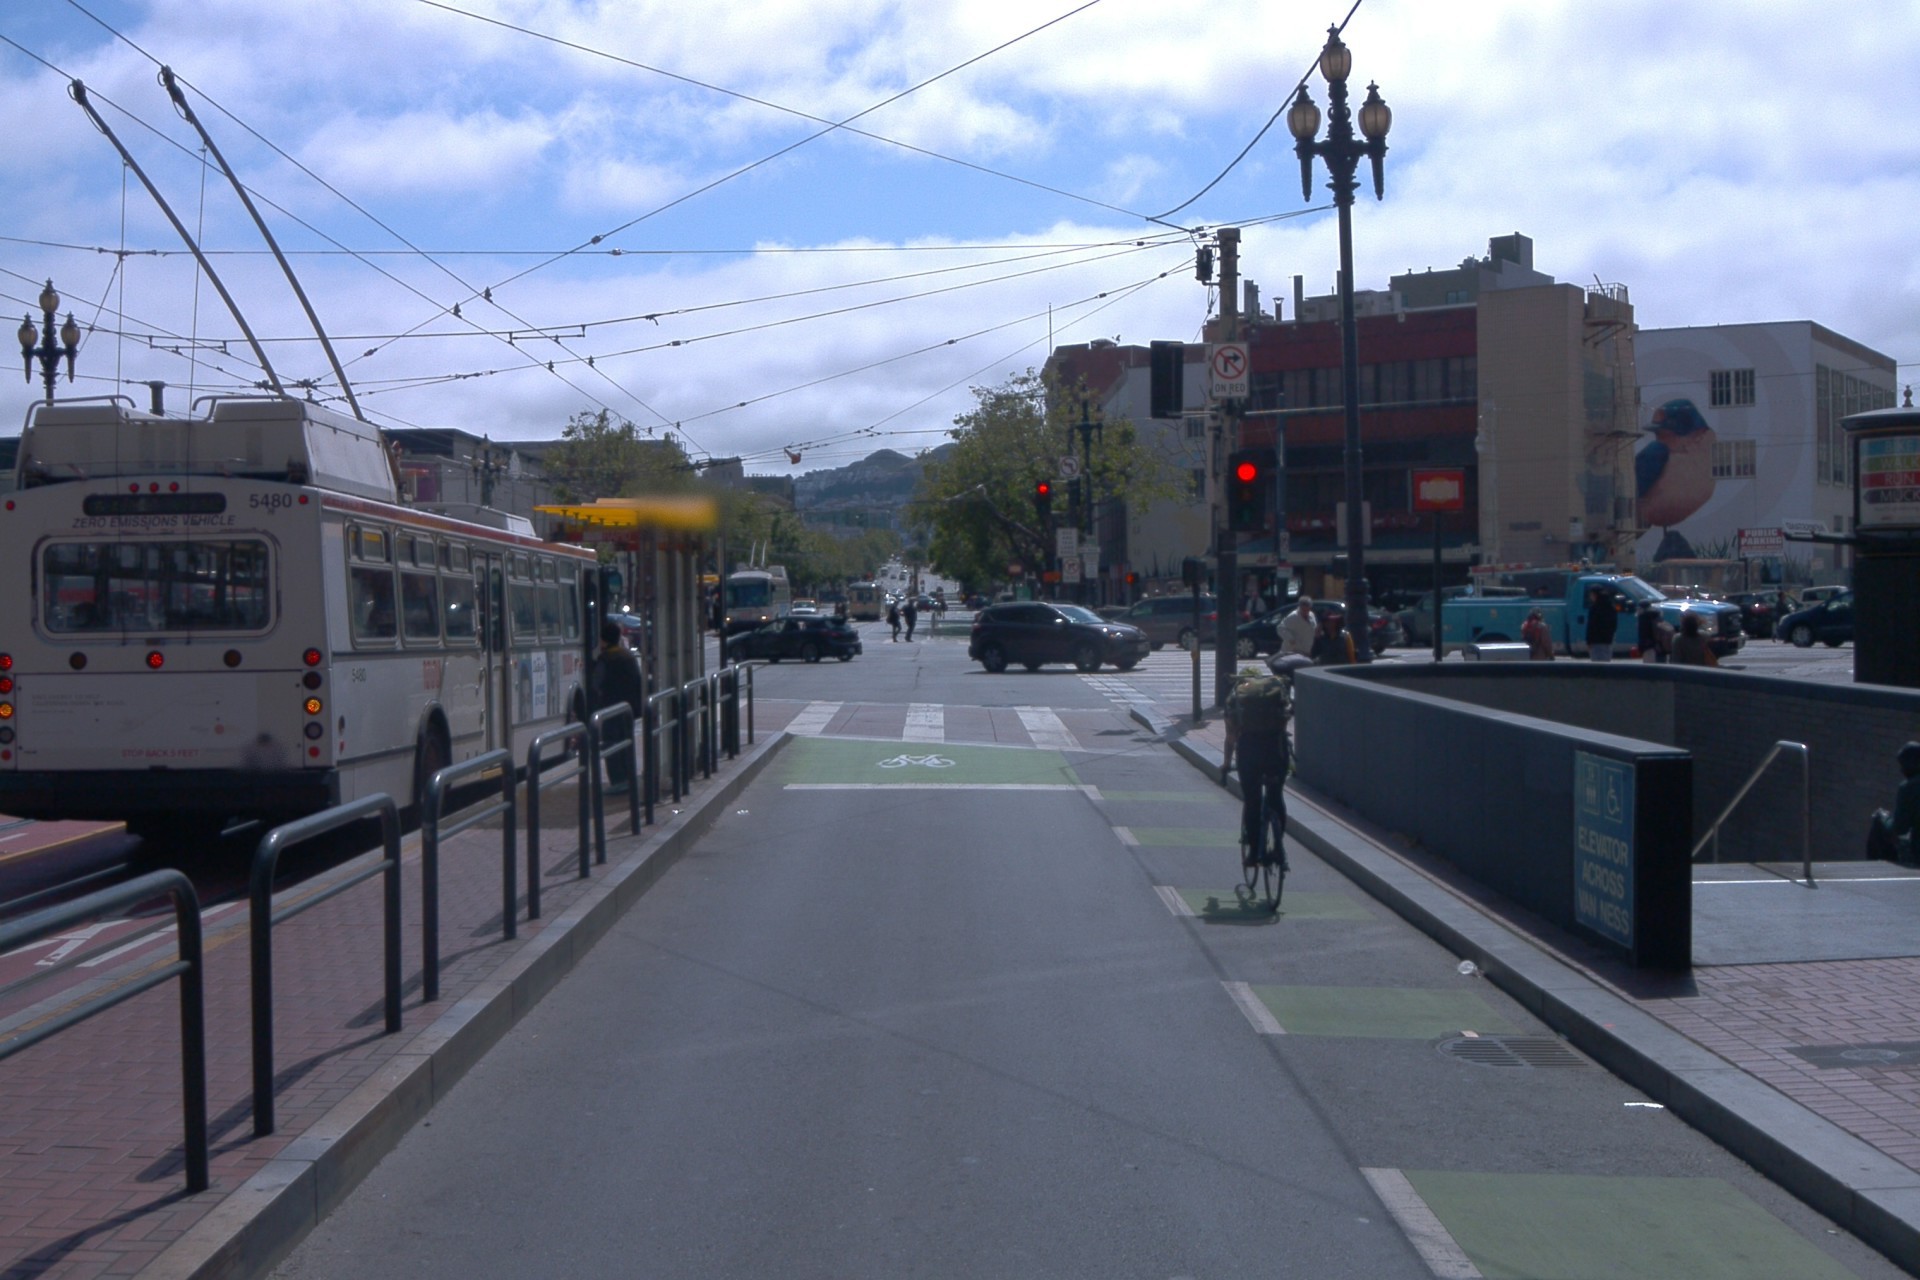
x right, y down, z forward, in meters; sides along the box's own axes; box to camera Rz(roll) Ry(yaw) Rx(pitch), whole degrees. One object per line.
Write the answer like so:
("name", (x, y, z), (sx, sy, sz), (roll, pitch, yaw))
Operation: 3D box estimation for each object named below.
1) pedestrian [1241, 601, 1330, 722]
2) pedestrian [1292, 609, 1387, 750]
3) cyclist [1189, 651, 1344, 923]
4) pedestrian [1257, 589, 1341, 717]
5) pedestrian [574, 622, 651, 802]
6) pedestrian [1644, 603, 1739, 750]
("pedestrian", (4.991, 0.317, 31.506), (1.083, 1.820, 0.884), (0, 1, 34))
("pedestrian", (4.800, 0.490, 26.036), (1.045, 1.750, 0.818), (0, 1, -1))
("cyclist", (2.136, 0.980, 14.552), (0.806, 1.770, 1.802), (0, 1, 0))
("pedestrian", (5.309, 0.195, 32.132), (1.058, 1.960, 1.083), (0, 1, 23))
("pedestrian", (-3.314, 0.675, 19.647), (0.667, 1.680, 0.622), (0, 1, -4))
("pedestrian", (8.860, 0.428, 24.927), (0.755, 1.740, 0.858), (0, 1, -10))
